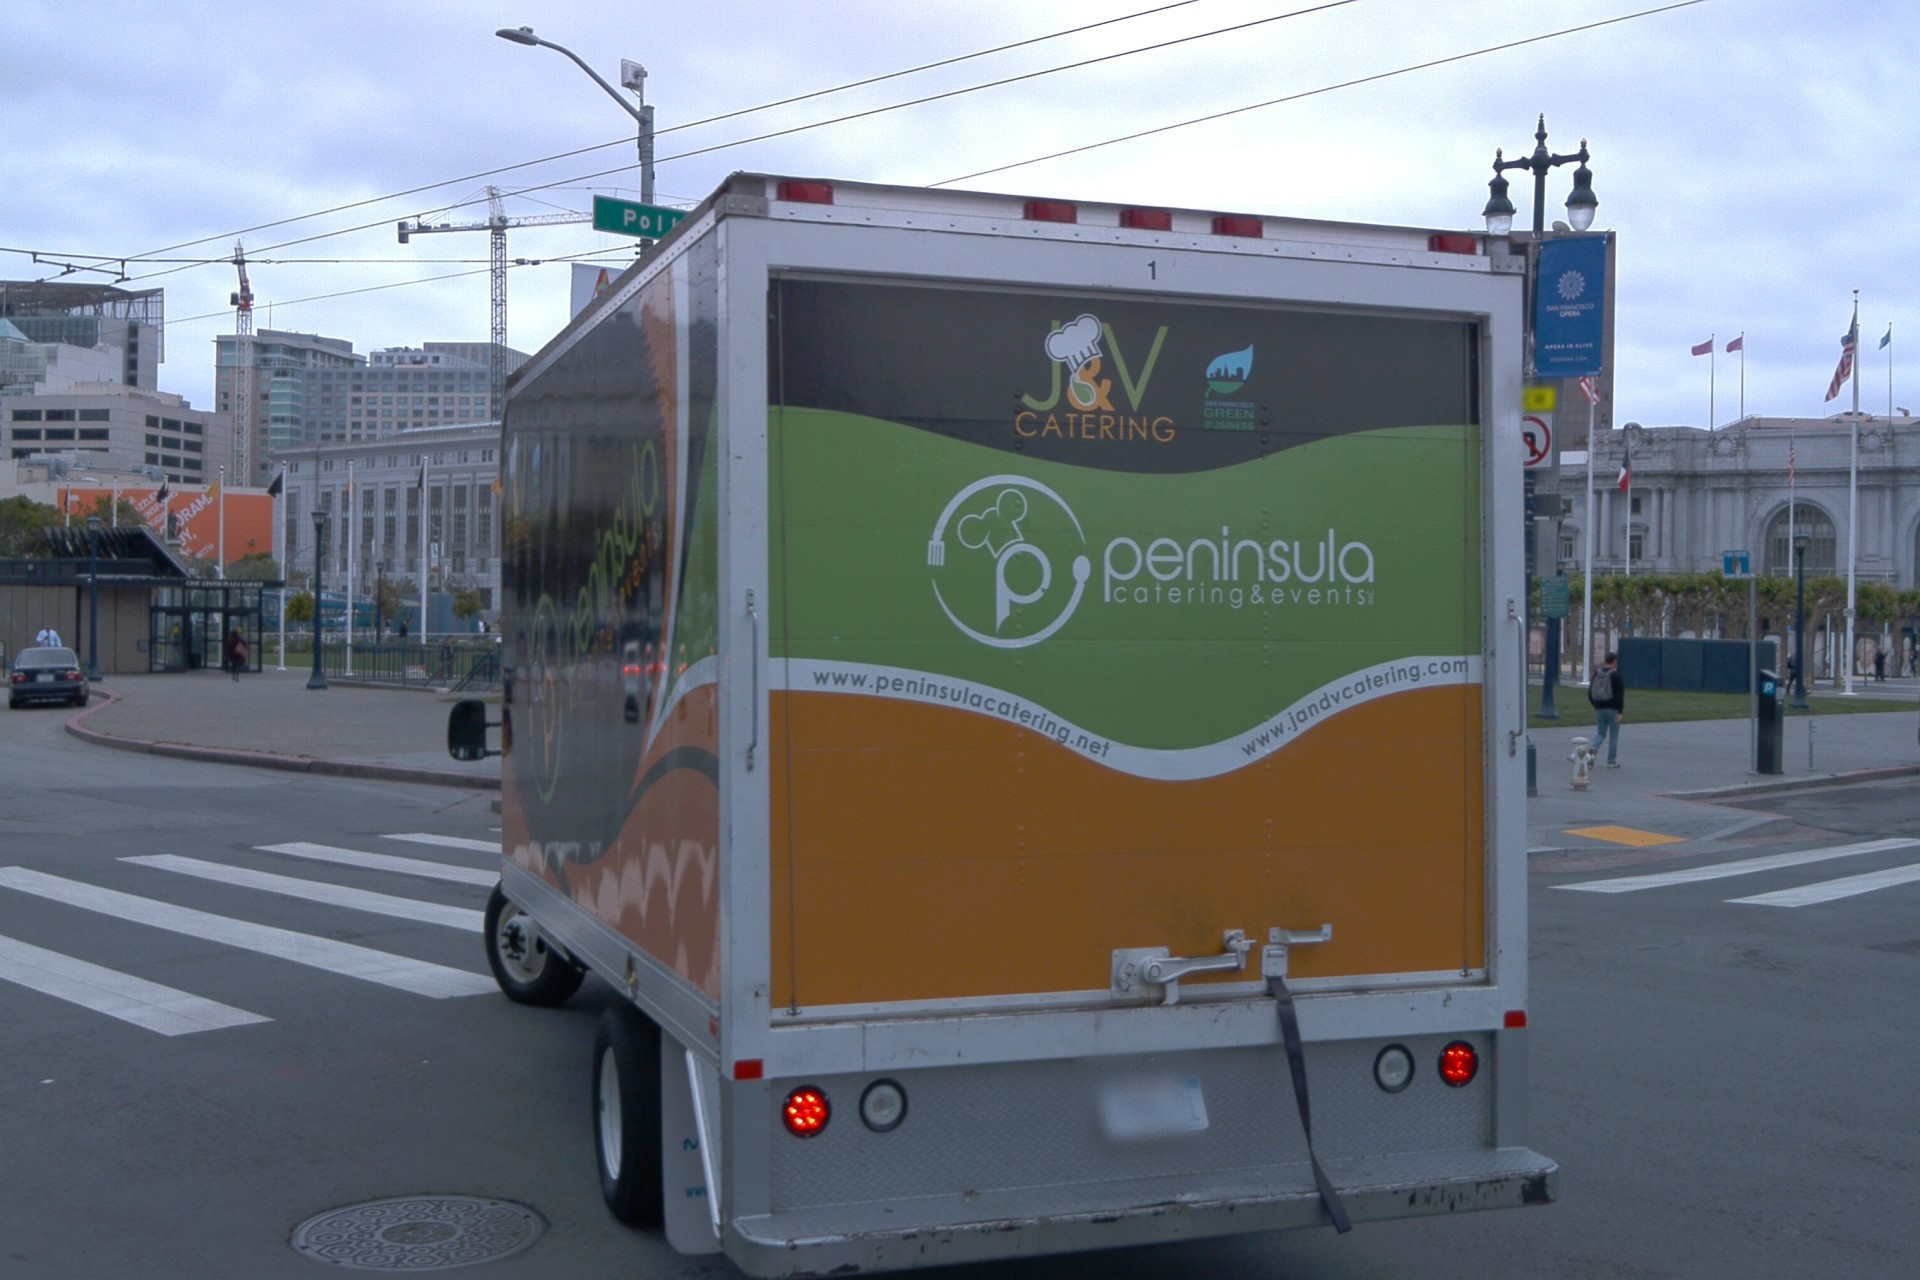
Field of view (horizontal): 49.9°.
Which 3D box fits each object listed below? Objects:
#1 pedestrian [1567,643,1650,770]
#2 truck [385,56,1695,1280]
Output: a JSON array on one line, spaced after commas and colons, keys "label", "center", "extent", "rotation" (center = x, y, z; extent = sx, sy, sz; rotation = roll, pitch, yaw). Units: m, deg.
[{"label": "pedestrian", "center": [10.488, 1.053, 33.373], "extent": [0.862, 1.964, 1.206], "rotation": [1, 1, 41]}, {"label": "truck", "center": [-0.593, 0.267, 8.576], "extent": [2.926, 3.300, 7.262], "rotation": [0, 1, -20]}]
